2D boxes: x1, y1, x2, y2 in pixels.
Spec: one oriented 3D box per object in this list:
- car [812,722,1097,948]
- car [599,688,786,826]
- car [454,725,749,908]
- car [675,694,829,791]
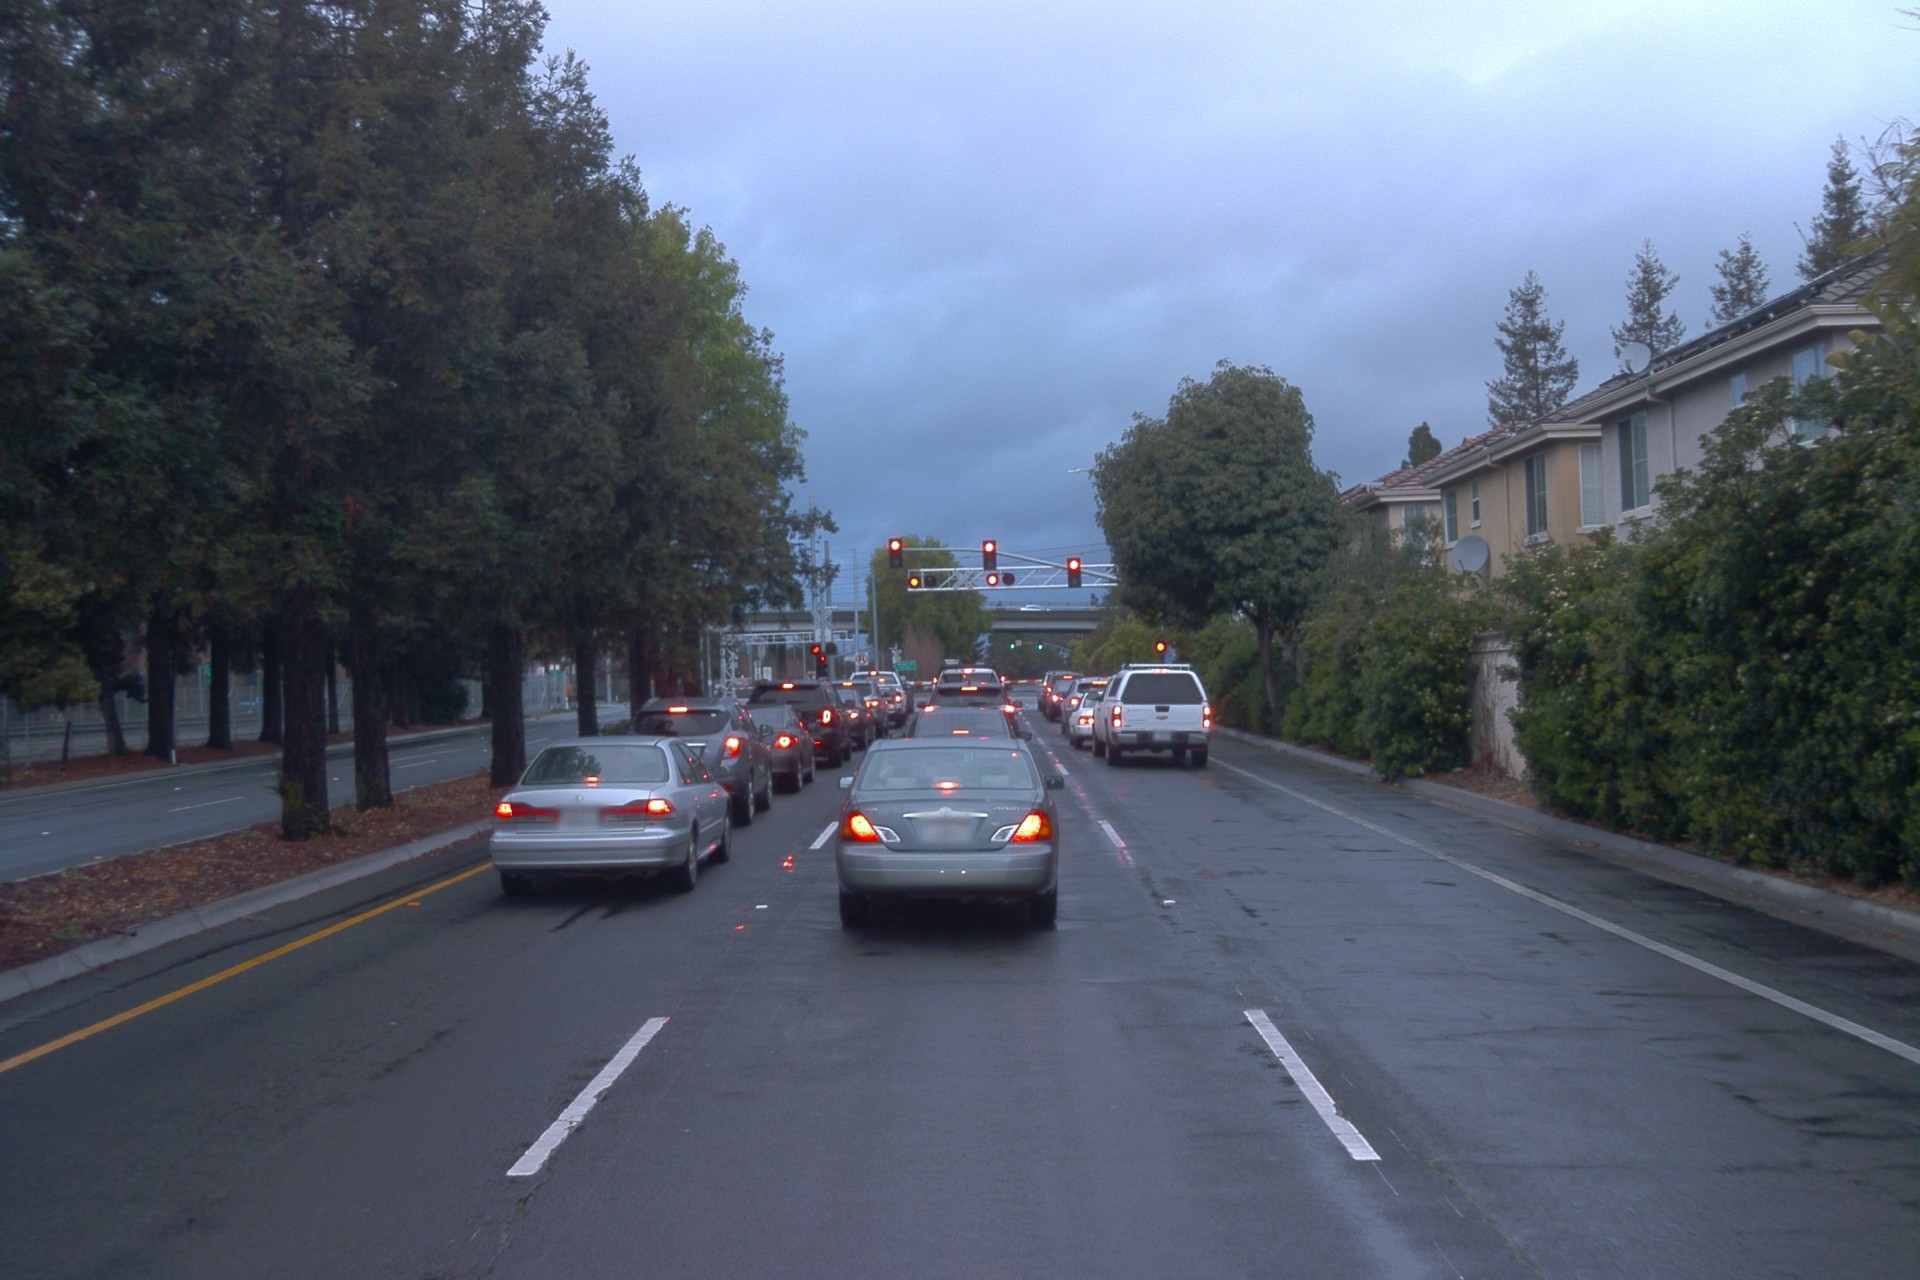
[{"bbox_3d":[-0.060,1.531,17.641,2.105,1.550,4.676,0,-1,0],"label":"car"},{"bbox_3d":[-3.534,1.519,28.112,1.936,1.700,4.080,0,-1,1],"label":"car"},{"bbox_3d":[-3.366,1.629,20.374,2.021,1.480,4.541,0,-1,1],"label":"car"},{"bbox_3d":[-3.394,1.656,34.626,2.021,1.460,4.541,0,-1,1],"label":"car"}]
